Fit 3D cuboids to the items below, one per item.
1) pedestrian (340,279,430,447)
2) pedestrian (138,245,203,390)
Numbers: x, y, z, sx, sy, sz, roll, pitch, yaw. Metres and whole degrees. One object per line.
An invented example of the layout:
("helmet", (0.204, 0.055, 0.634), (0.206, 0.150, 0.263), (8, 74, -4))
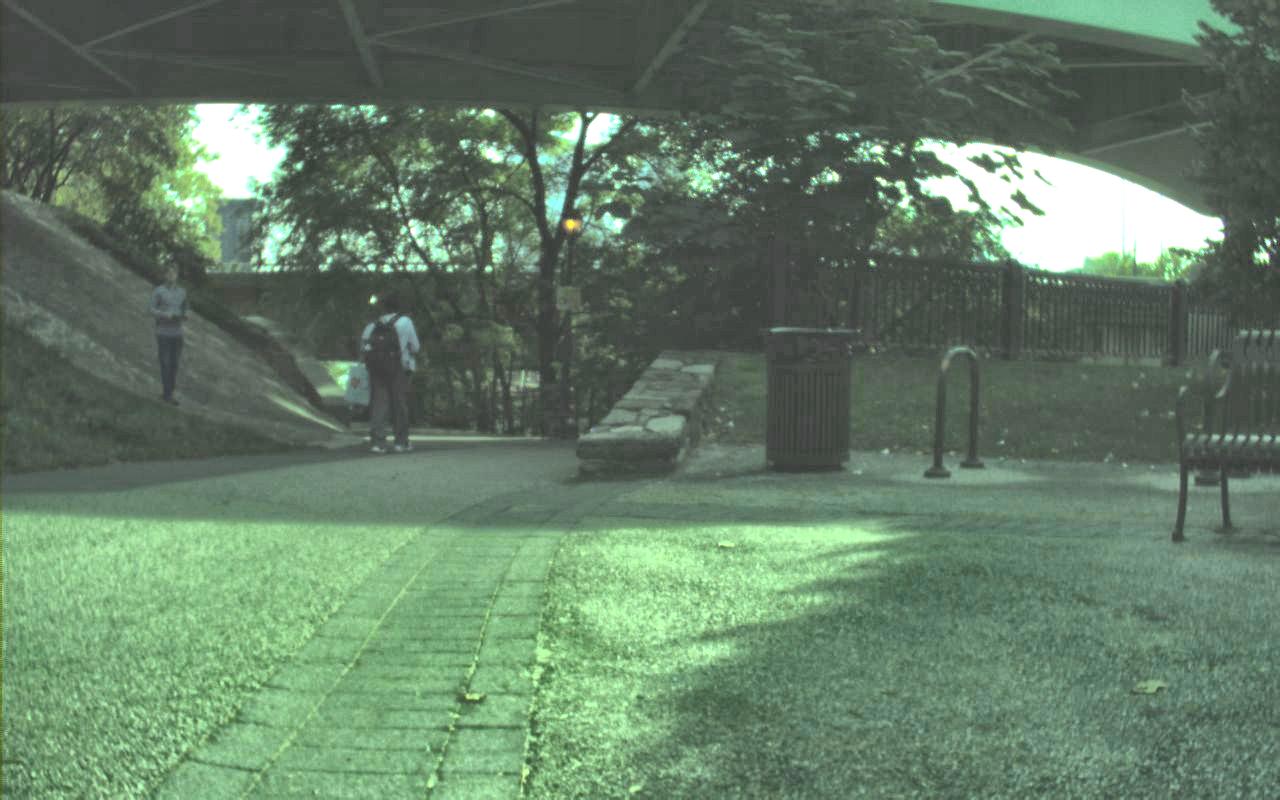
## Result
("pedestrian", (-2.665, -0.383, 12.987), (0.873, 1.697, 0.905), (0, 0, -7))
("pedestrian", (-6.223, -1.045, 15.627), (0.751, 1.867, 0.727), (0, 0, -32))
